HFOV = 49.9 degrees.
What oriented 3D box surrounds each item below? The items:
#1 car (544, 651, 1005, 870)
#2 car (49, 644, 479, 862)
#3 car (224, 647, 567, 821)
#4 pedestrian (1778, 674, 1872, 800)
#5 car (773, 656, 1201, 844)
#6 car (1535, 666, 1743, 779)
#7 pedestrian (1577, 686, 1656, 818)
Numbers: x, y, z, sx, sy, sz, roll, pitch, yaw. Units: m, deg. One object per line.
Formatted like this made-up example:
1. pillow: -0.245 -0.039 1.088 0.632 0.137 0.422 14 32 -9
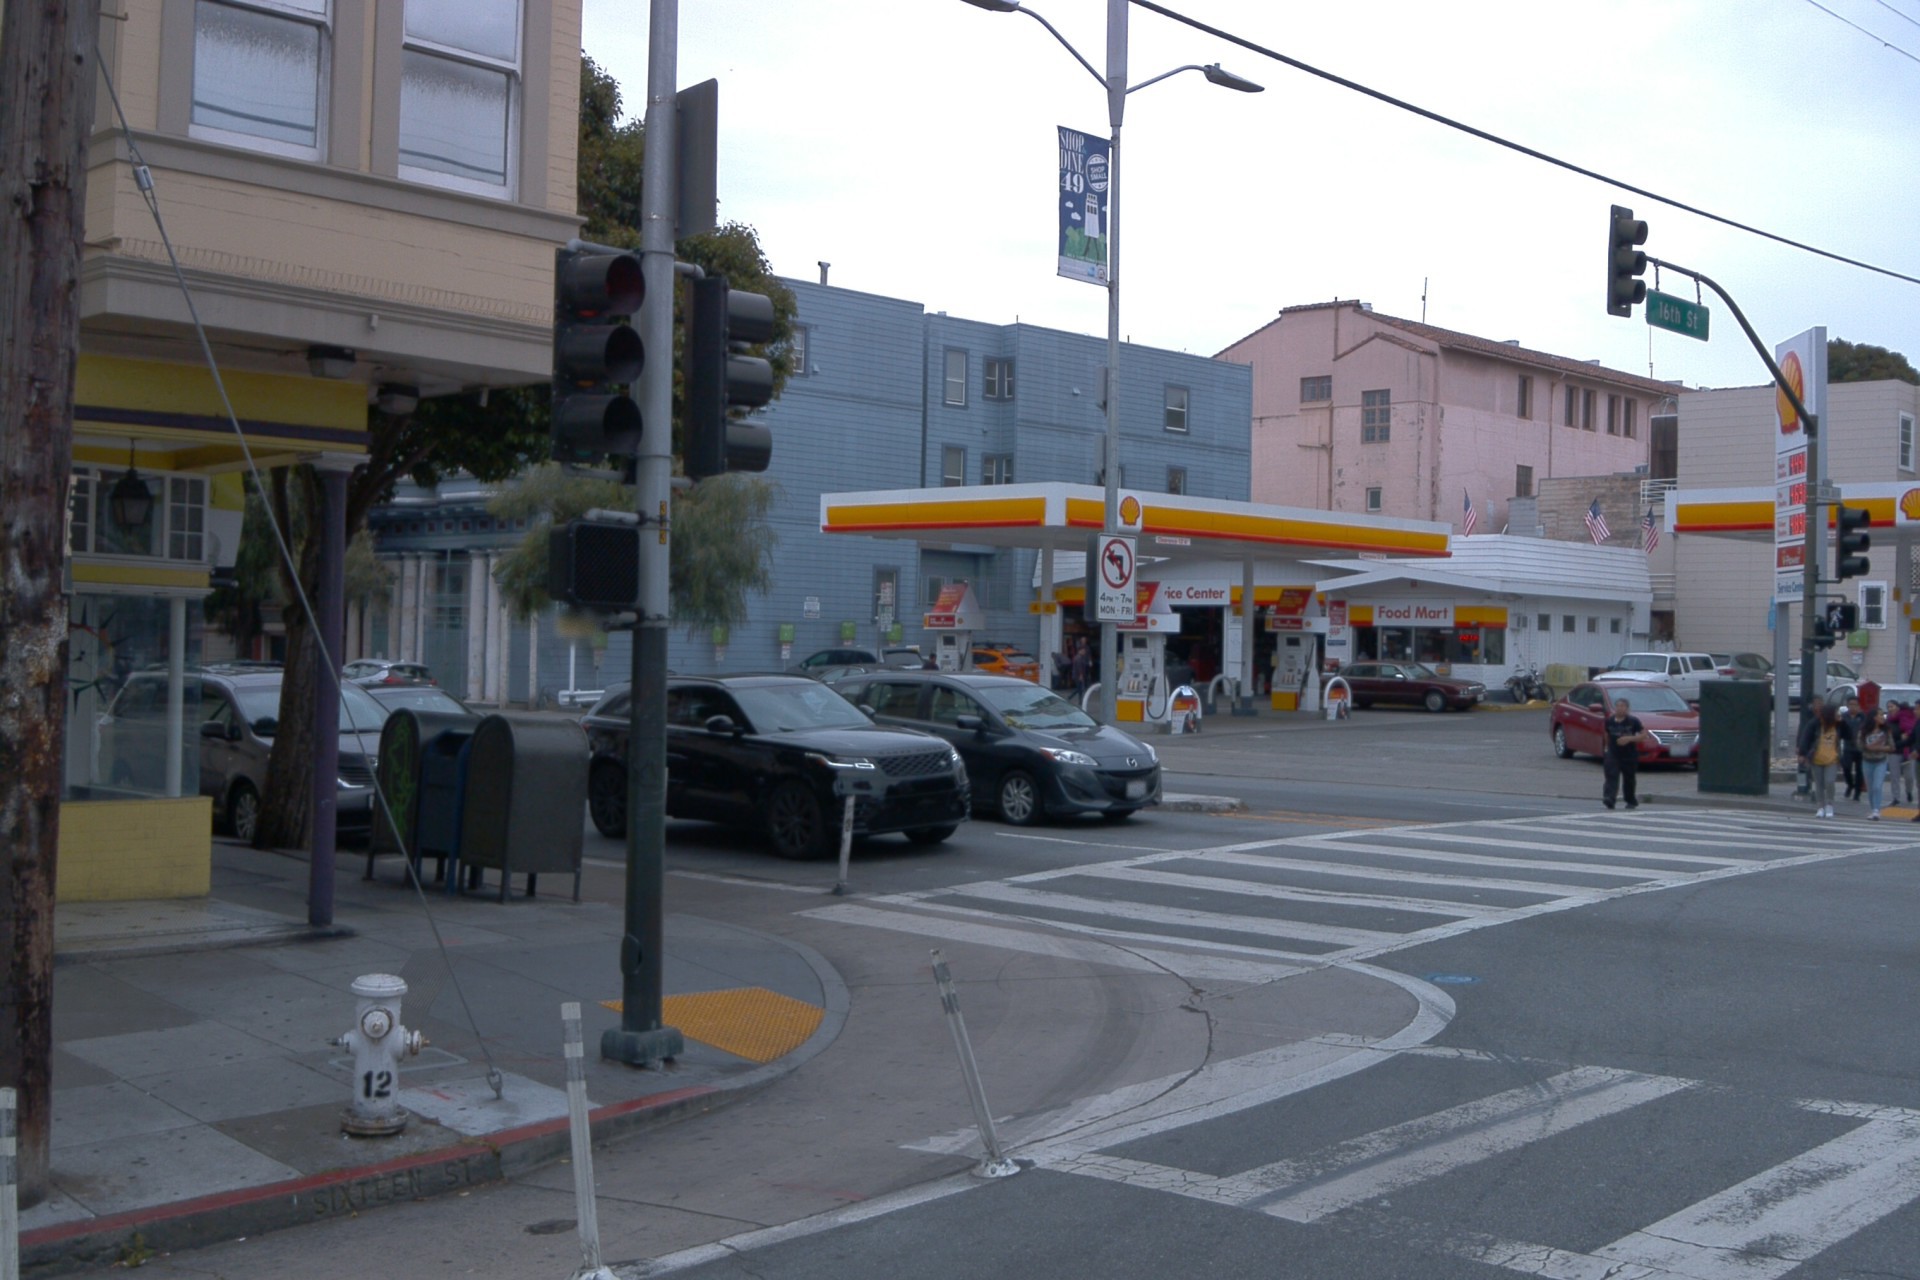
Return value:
1. car: -1.954 1.077 20.615 2.104 1.830 4.647 -1 1 -45
2. car: -7.450 1.056 21.787 2.249 1.930 5.134 -1 1 -45
3. car: -7.139 1.078 25.809 2.024 1.870 4.812 -1 1 -45
4. pedestrian: 11.502 1.272 27.447 0.925 1.600 0.846 1 1 41
5. car: 0.208 1.131 23.246 4.688 1.789 2.067 1 1 44
6. car: 11.869 1.389 36.440 2.007 1.720 4.677 0 1 -2
7. pedestrian: 8.545 1.434 26.844 0.836 1.610 1.131 0 1 25
